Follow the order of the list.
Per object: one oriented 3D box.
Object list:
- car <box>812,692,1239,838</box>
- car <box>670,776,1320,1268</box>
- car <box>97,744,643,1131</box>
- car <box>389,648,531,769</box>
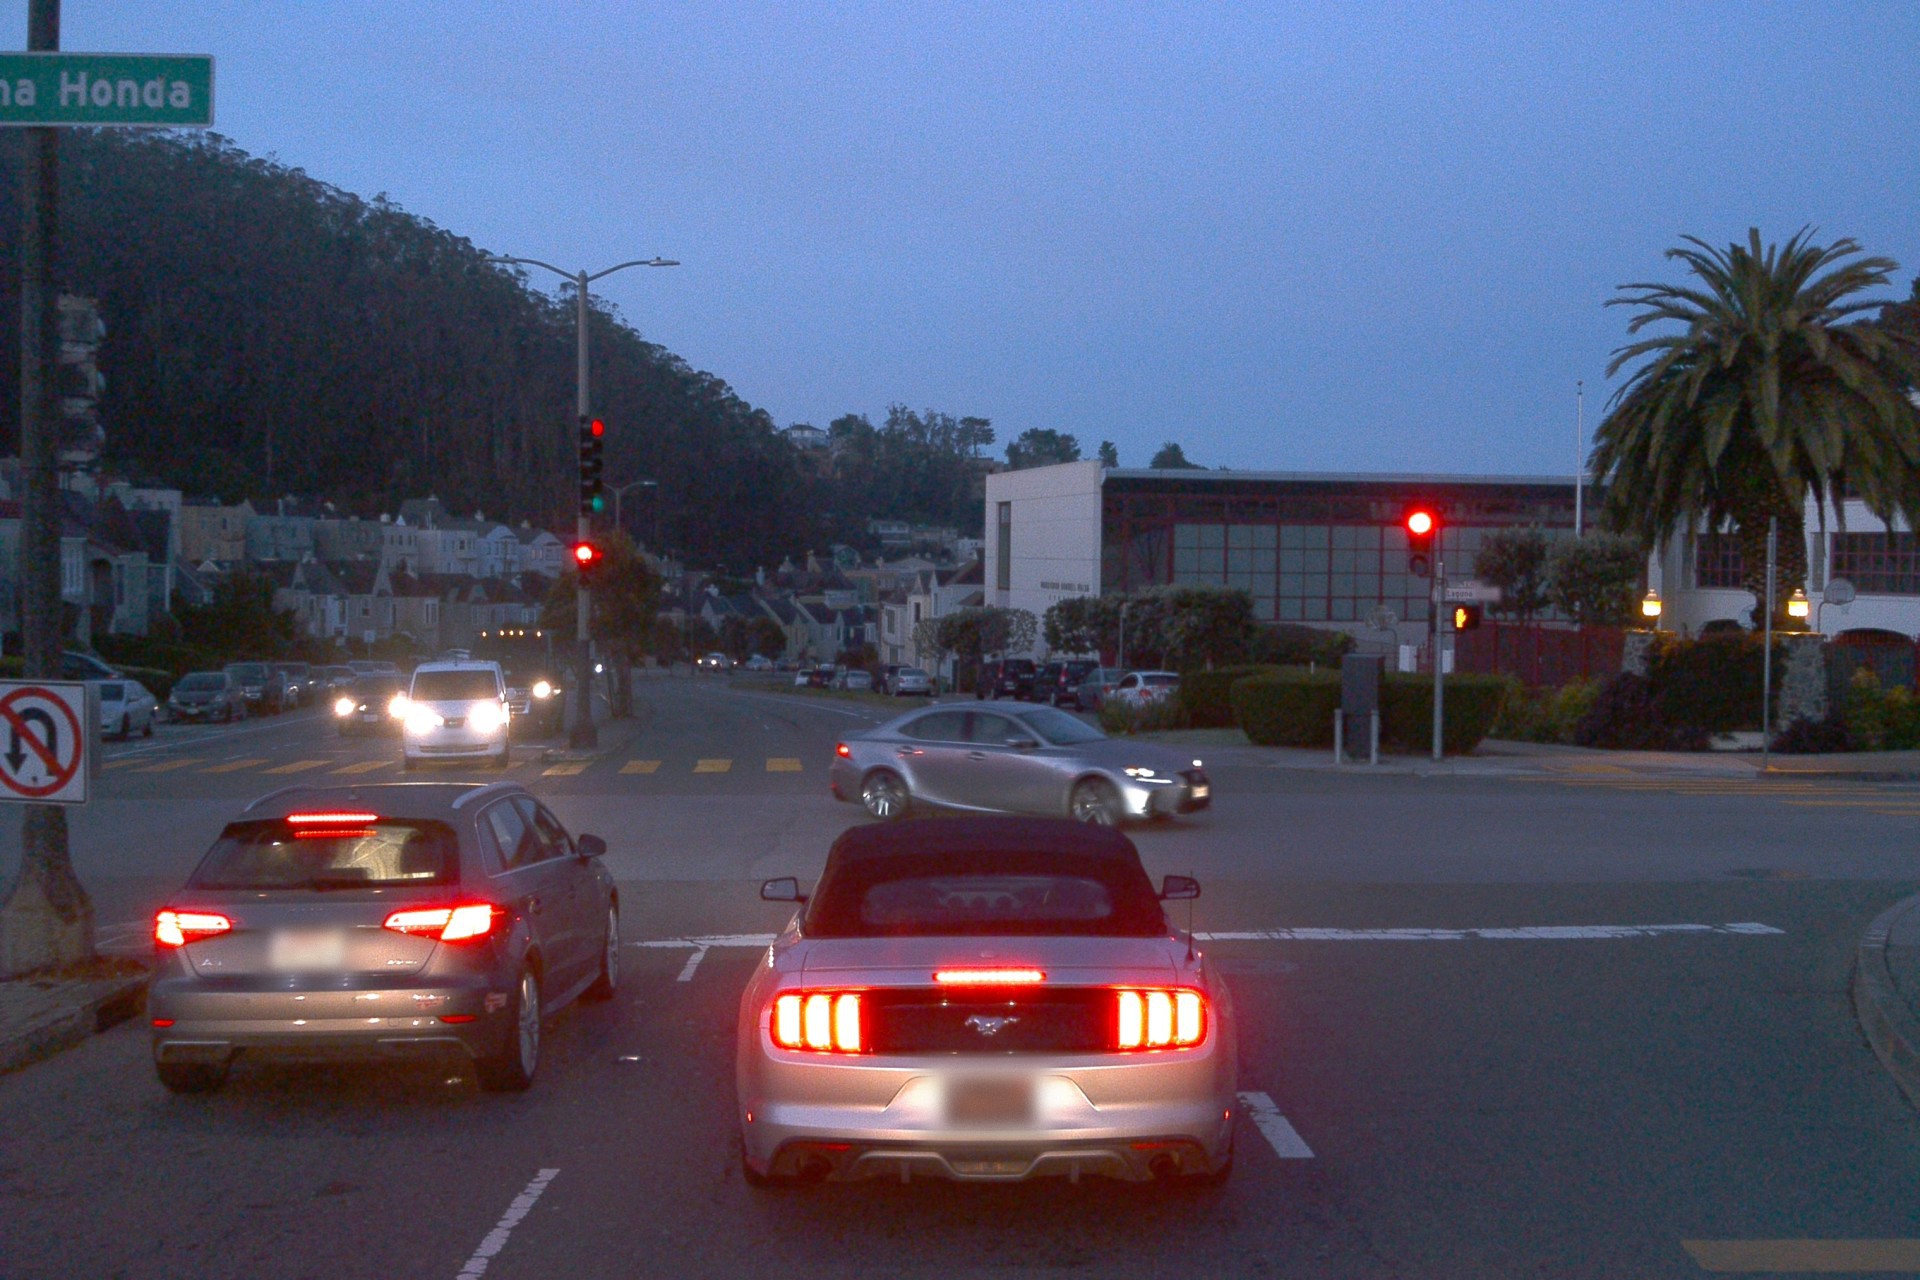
[{"bbox_3d":[0.731,1.405,24.480,4.671,1.490,2.028,0,0,33],"label":"car"},{"bbox_3d":[0.099,1.421,9.110,2.174,1.380,4.355,0,0,0],"label":"car"},{"bbox_3d":[-2.887,1.404,11.058,1.782,1.510,3.987,0,0,0],"label":"car"},{"bbox_3d":[-8.828,1.149,36.942,2.101,2.000,4.843,0,0,-9],"label":"car"}]
